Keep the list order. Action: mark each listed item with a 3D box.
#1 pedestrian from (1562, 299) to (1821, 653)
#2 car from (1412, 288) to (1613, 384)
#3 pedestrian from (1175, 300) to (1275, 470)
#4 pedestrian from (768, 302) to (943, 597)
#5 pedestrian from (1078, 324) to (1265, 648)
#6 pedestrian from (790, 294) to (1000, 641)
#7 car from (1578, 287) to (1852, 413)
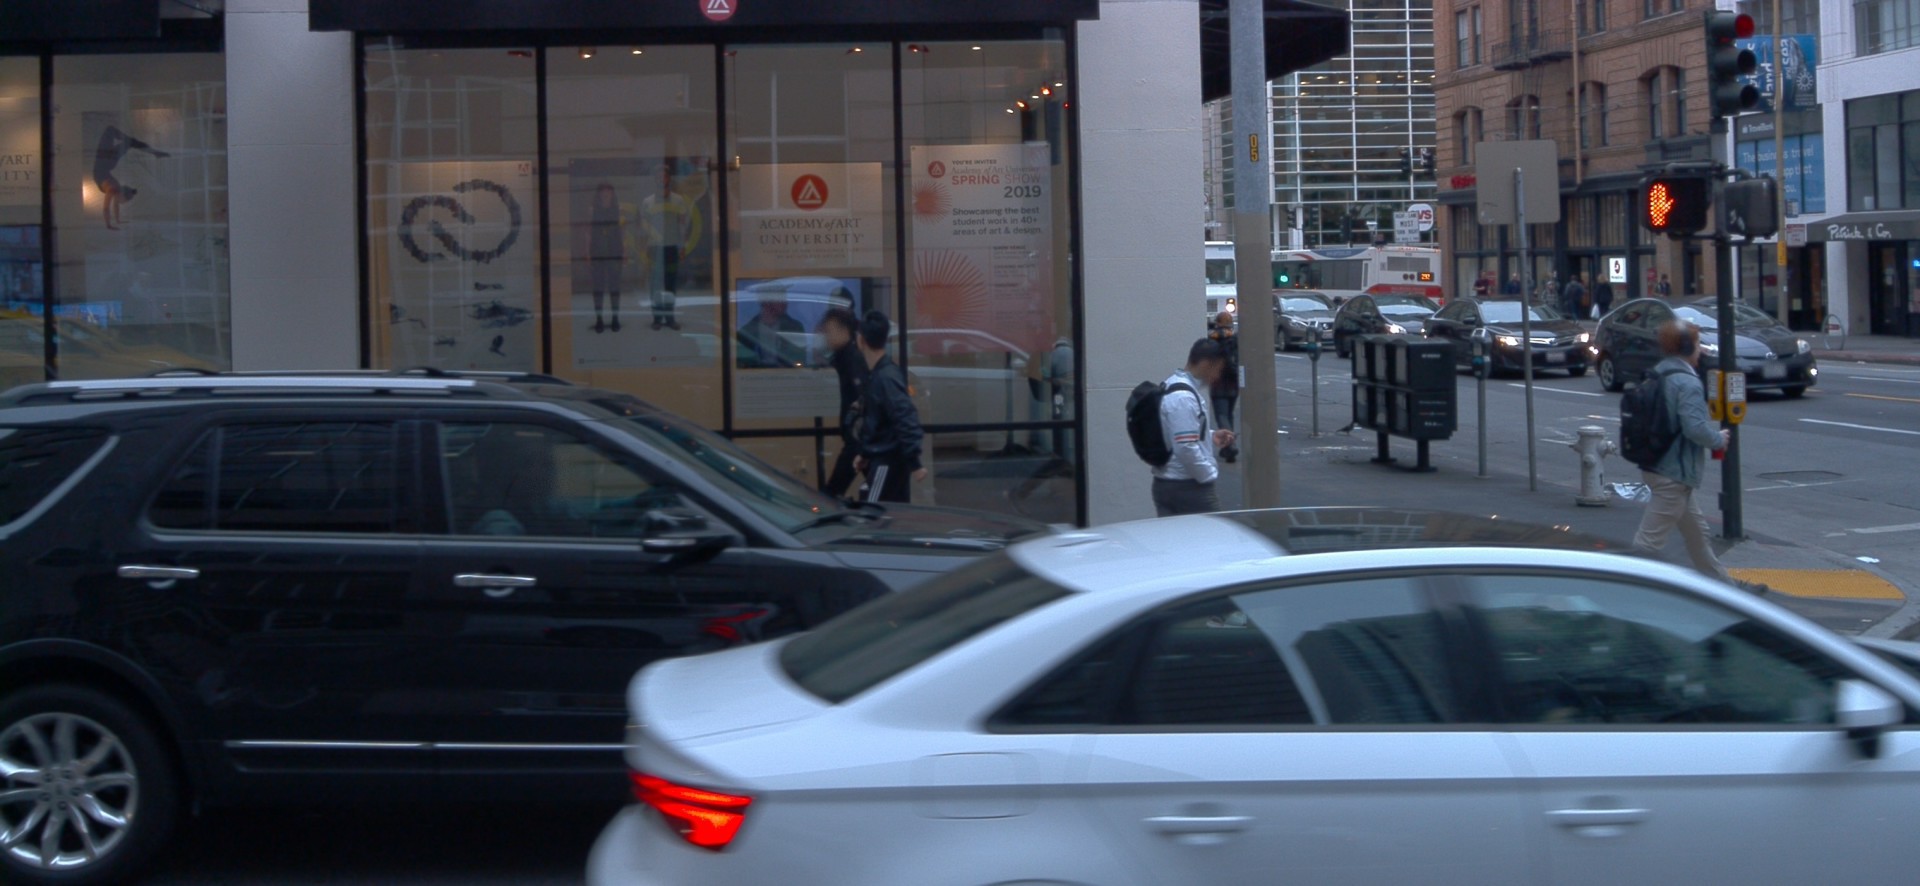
[{"bbox_3d":[4.115,0.151,11.653,1.166,1.877,0.760,-1,2,-6],"label":"pedestrian"},{"bbox_3d":[10.079,-2.028,38.006,2.075,1.442,4.653,-1,6,-6],"label":"car"},{"bbox_3d":[2.897,-0.663,22.631,0.850,1.746,1.163,0,3,-5],"label":"pedestrian"},{"bbox_3d":[-0.688,0.016,13.936,1.131,1.897,0.794,0,2,0],"label":"pedestrian"},{"bbox_3d":[1.199,0.218,11.815,0.964,1.747,0.716,0,2,-3],"label":"pedestrian"},{"bbox_3d":[-0.408,0.110,12.456,1.184,1.967,0.834,-1,2,-7],"label":"pedestrian"},{"bbox_3d":[11.090,-1.454,30.679,2.064,1.531,4.507,-1,6,-6],"label":"car"}]
